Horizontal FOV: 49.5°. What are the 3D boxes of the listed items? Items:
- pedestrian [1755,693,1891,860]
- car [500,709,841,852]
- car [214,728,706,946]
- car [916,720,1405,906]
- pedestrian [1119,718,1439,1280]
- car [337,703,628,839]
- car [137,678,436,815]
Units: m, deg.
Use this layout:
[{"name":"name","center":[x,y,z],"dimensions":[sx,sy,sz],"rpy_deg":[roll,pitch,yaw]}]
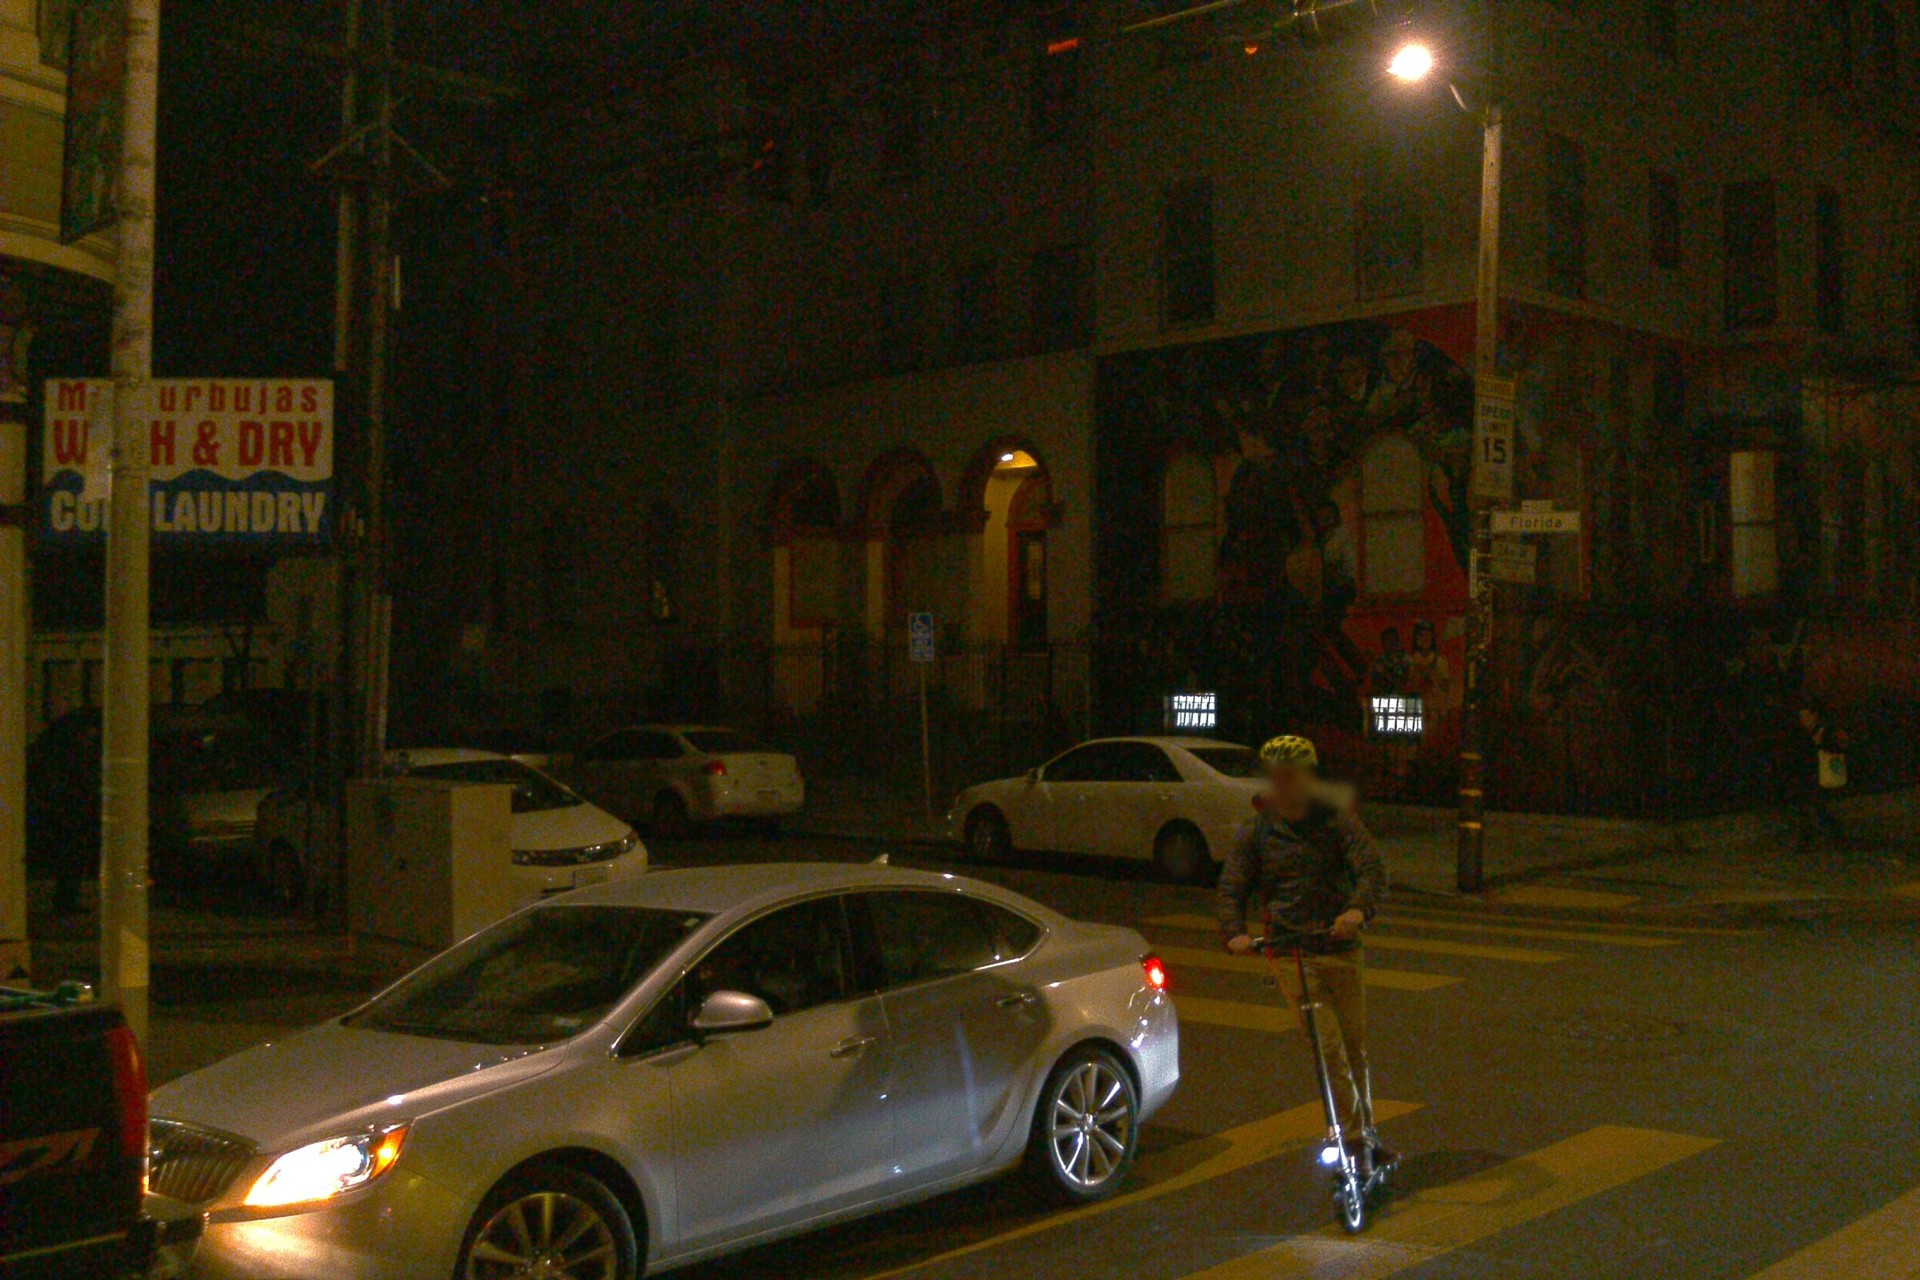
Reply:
[{"name":"pedestrian","center":[9.720,1.507,23.426],"dimensions":[1.083,1.780,1.001],"rpy_deg":[1,0,-39]},{"name":"car","center":[-3.933,1.796,27.806],"dimensions":[4.484,1.590,2.154],"rpy_deg":[1,0,43]},{"name":"car","center":[-4.600,1.648,18.698],"dimensions":[4.684,1.490,2.131],"rpy_deg":[1,0,45]},{"name":"car","center":[2.020,1.722,22.054],"dimensions":[2.249,1.540,4.811],"rpy_deg":[1,0,-45]},{"name":"pedestrian","center":[1.293,1.319,8.192],"dimensions":[0.990,1.961,1.324],"rpy_deg":[1,0,19]},{"name":"car","center":[-7.193,1.885,31.118],"dimensions":[4.412,1.720,2.202],"rpy_deg":[1,0,45]},{"name":"car","center":[-11.553,1.723,35.447],"dimensions":[5.593,2.030,2.552],"rpy_deg":[1,0,45]}]
